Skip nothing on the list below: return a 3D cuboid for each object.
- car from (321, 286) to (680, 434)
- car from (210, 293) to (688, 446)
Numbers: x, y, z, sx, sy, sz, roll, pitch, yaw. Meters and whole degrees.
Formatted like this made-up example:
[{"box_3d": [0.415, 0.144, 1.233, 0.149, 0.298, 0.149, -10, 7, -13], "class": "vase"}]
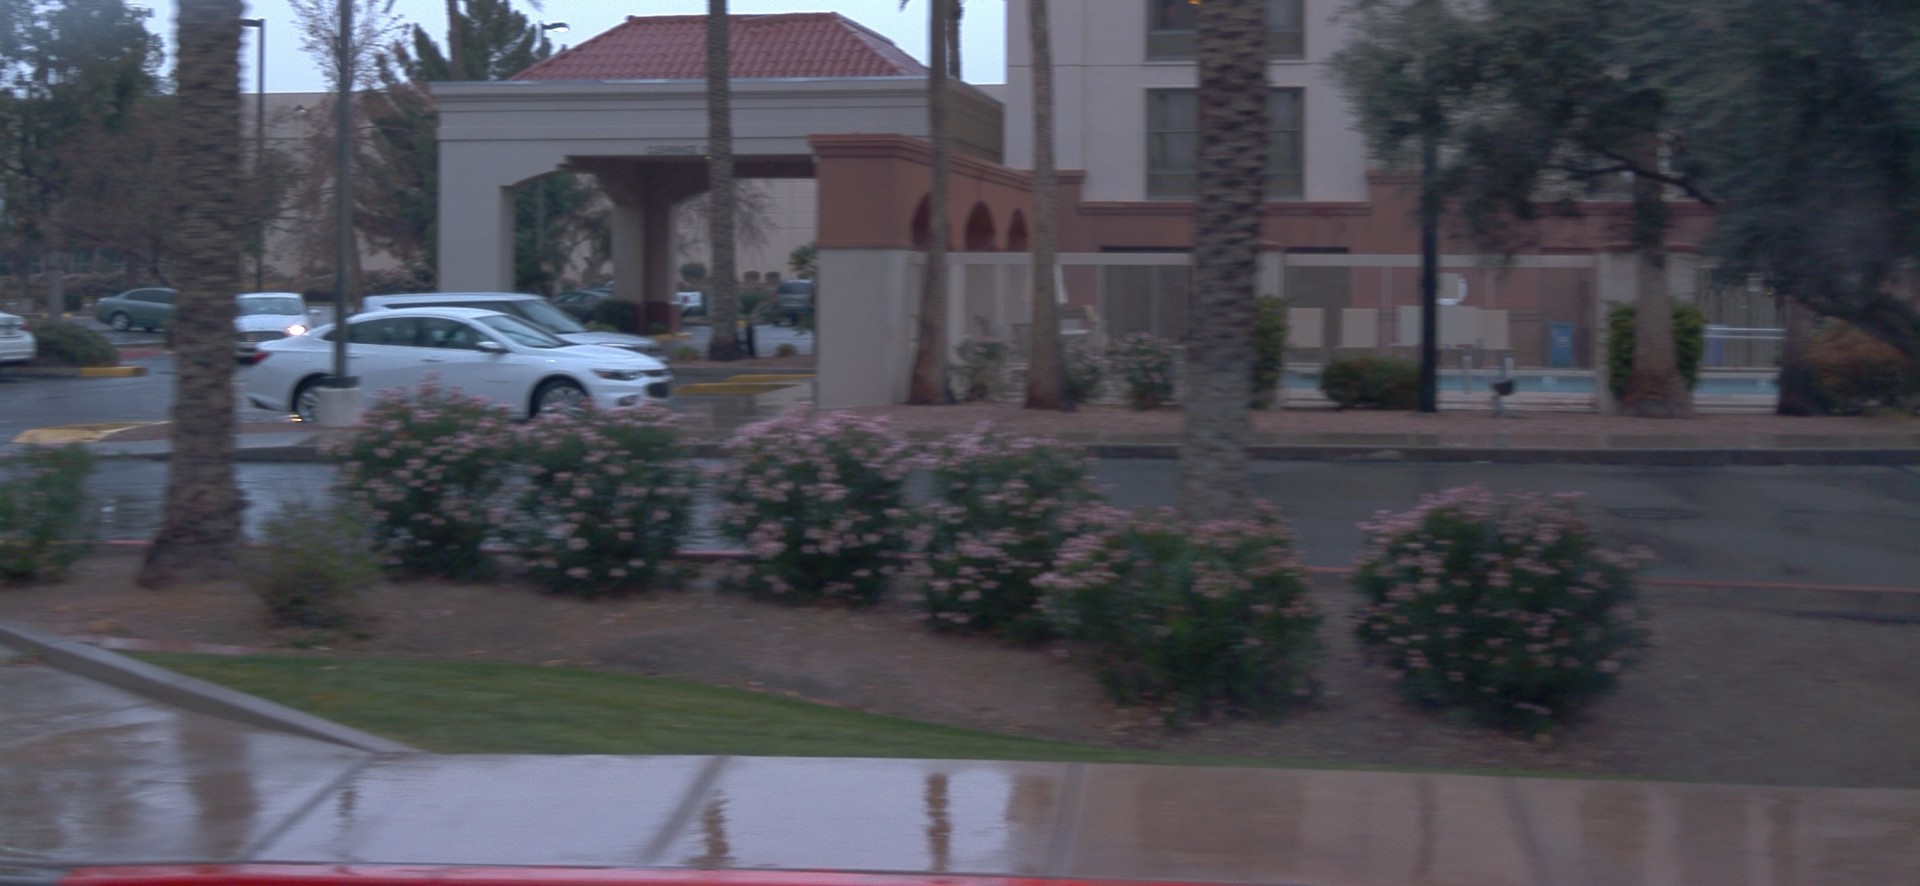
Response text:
[{"box_3d": [-5.934, -1.123, 27.251, 4.119, 1.747, 1.916, 1, 3, 10], "class": "car"}, {"box_3d": [-5.980, -0.926, 24.795, 5.003, 1.586, 2.230, 1, 4, 10], "class": "car"}]
